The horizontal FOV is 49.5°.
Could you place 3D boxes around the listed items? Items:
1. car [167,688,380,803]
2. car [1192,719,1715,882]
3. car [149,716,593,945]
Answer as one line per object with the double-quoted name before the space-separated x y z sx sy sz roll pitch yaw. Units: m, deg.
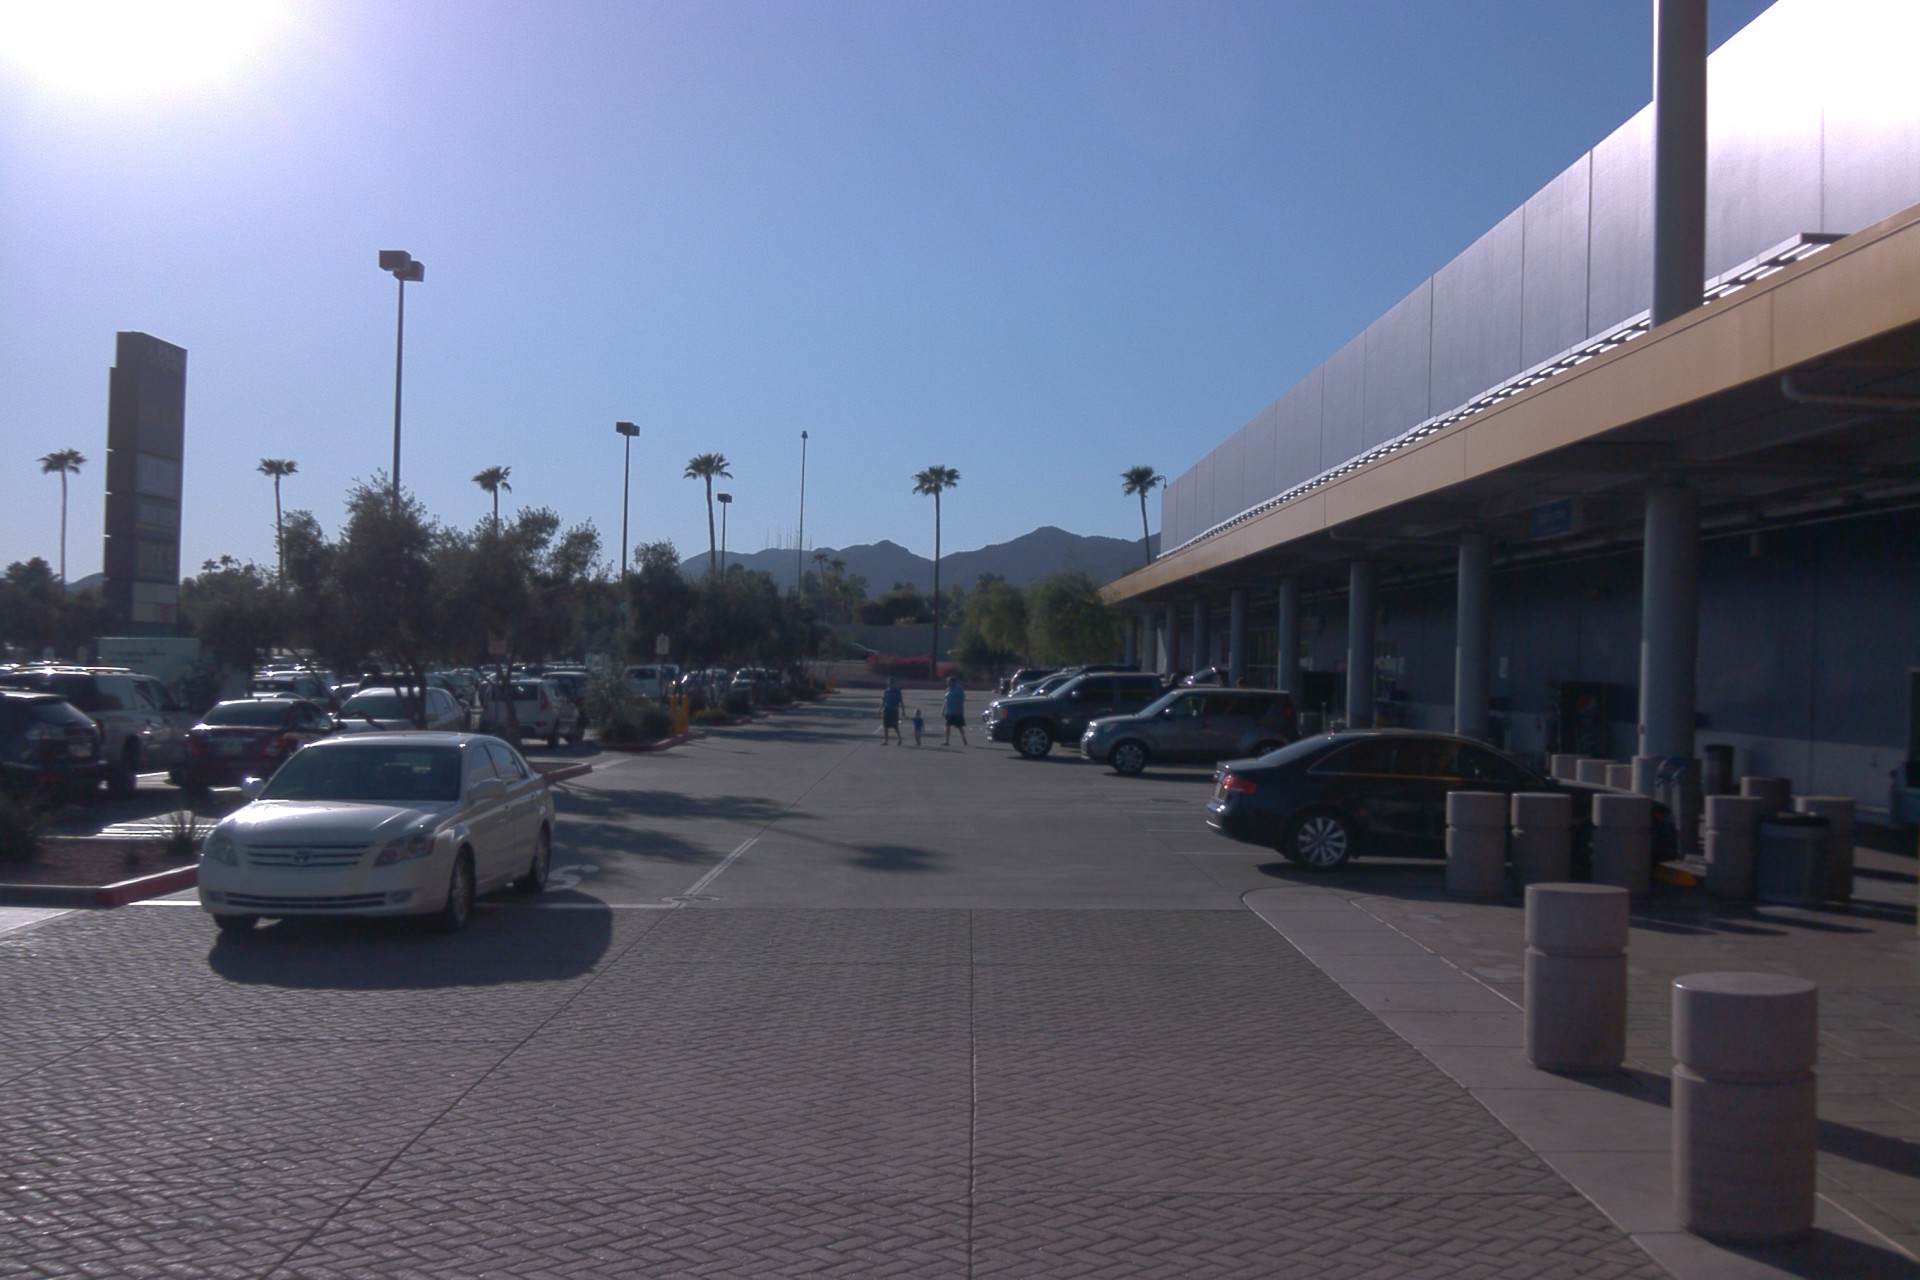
"car" -10.427 1.558 31.928 1.866 1.580 4.286 1 0 0
"car" 4.883 1.592 21.137 4.792 1.460 2.078 1 0 0
"car" -4.567 1.426 17.057 2.148 1.440 4.950 1 -1 1
